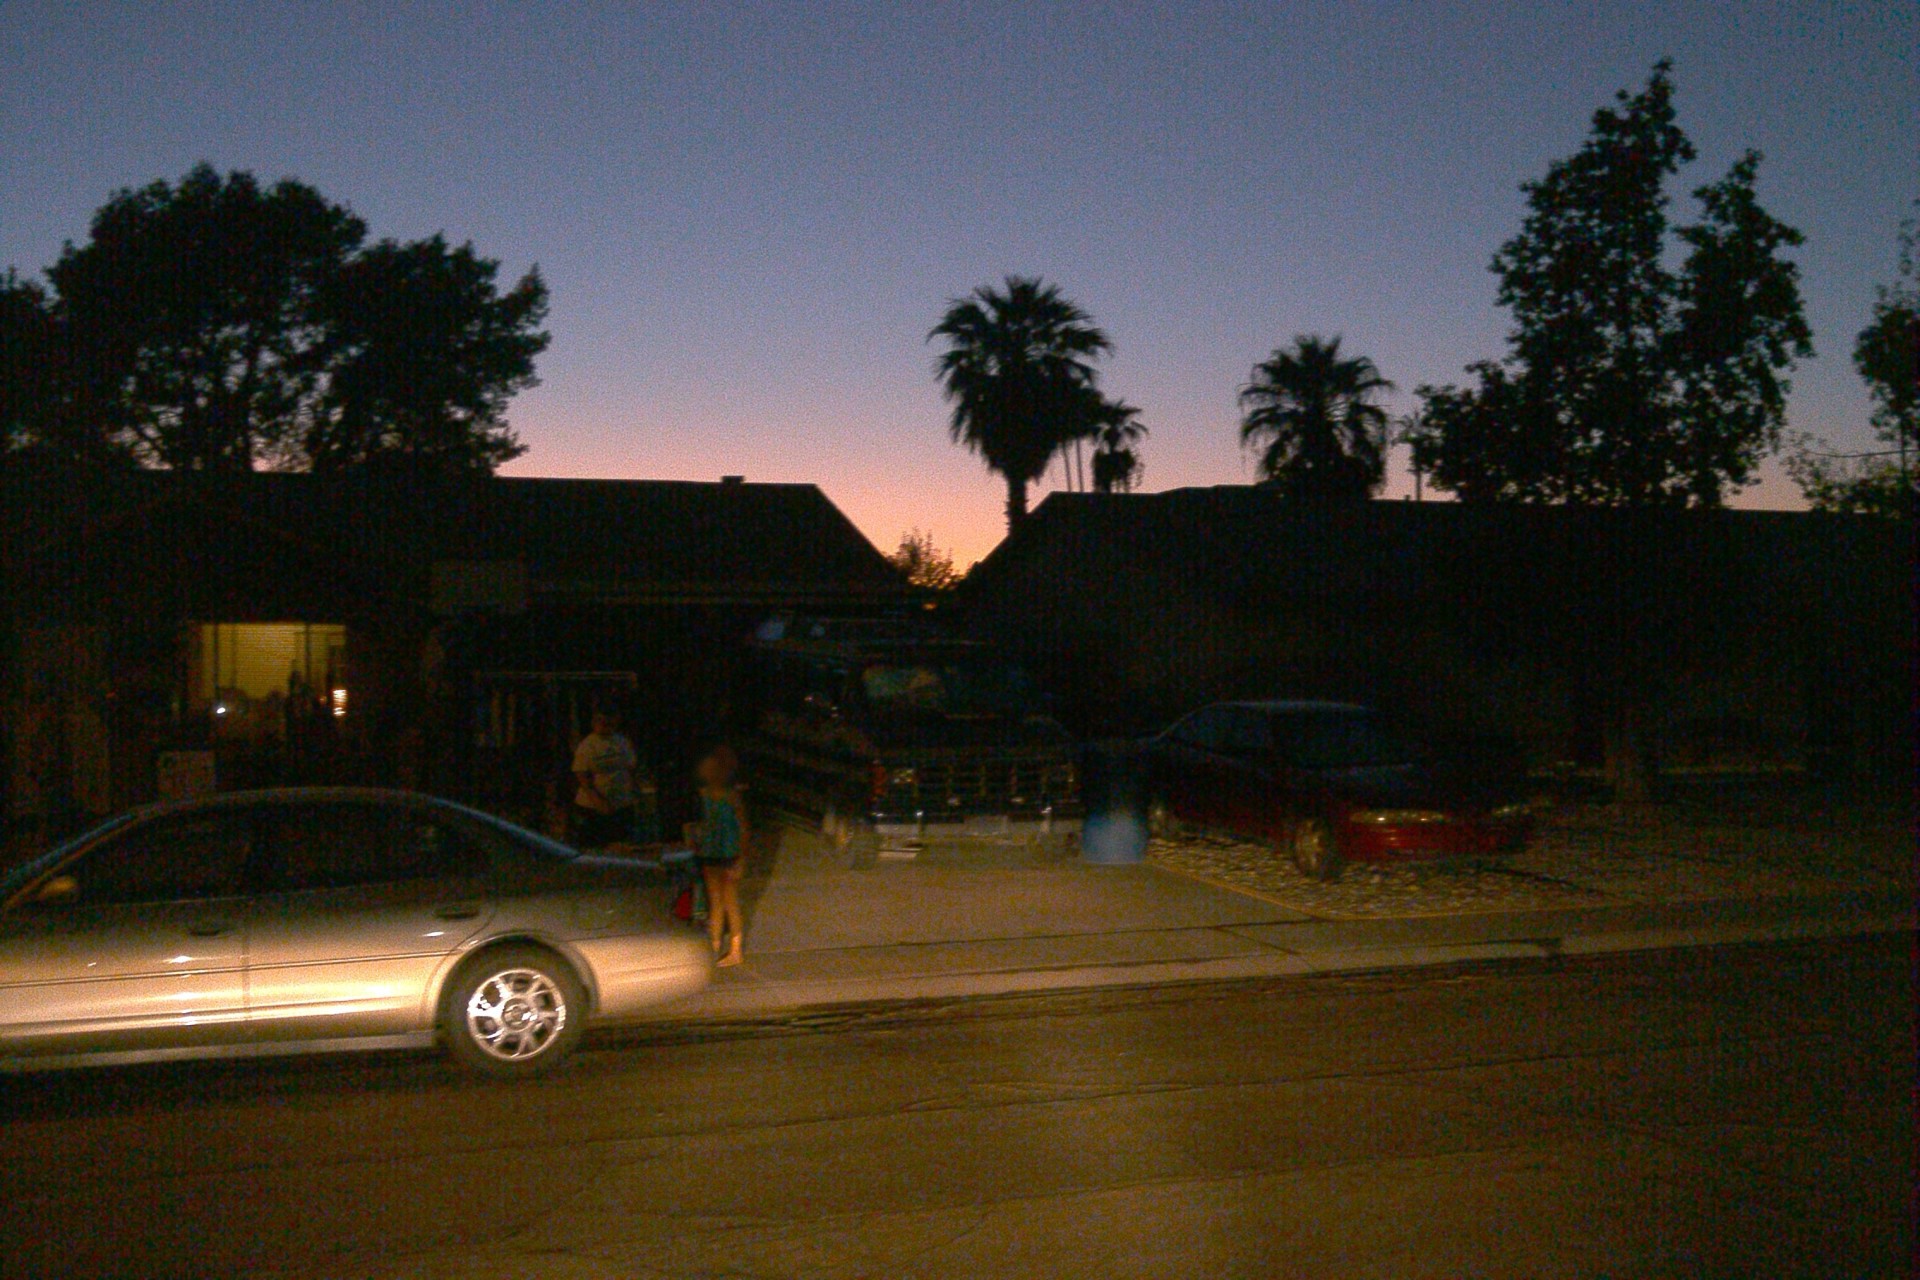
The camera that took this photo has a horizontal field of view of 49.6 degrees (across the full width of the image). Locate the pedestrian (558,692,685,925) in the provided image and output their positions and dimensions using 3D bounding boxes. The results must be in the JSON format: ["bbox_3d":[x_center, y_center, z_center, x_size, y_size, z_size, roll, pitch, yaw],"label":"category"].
[{"bbox_3d":[-2.565,1.243,15.699,0.832,1.690,0.834,0,-1,-17],"label":"pedestrian"}]

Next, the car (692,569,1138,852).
[{"bbox_3d":[-0.653,0.637,20.010,2.590,2.310,5.426,0,-1,-21],"label":"car"}]

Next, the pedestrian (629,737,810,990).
[{"bbox_3d":[-1.553,1.417,13.519,0.835,1.540,0.877,0,-1,24],"label":"pedestrian"}]

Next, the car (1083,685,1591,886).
[{"bbox_3d":[3.246,1.211,19.178,2.145,1.570,5.087,1,-1,-23],"label":"car"}]
